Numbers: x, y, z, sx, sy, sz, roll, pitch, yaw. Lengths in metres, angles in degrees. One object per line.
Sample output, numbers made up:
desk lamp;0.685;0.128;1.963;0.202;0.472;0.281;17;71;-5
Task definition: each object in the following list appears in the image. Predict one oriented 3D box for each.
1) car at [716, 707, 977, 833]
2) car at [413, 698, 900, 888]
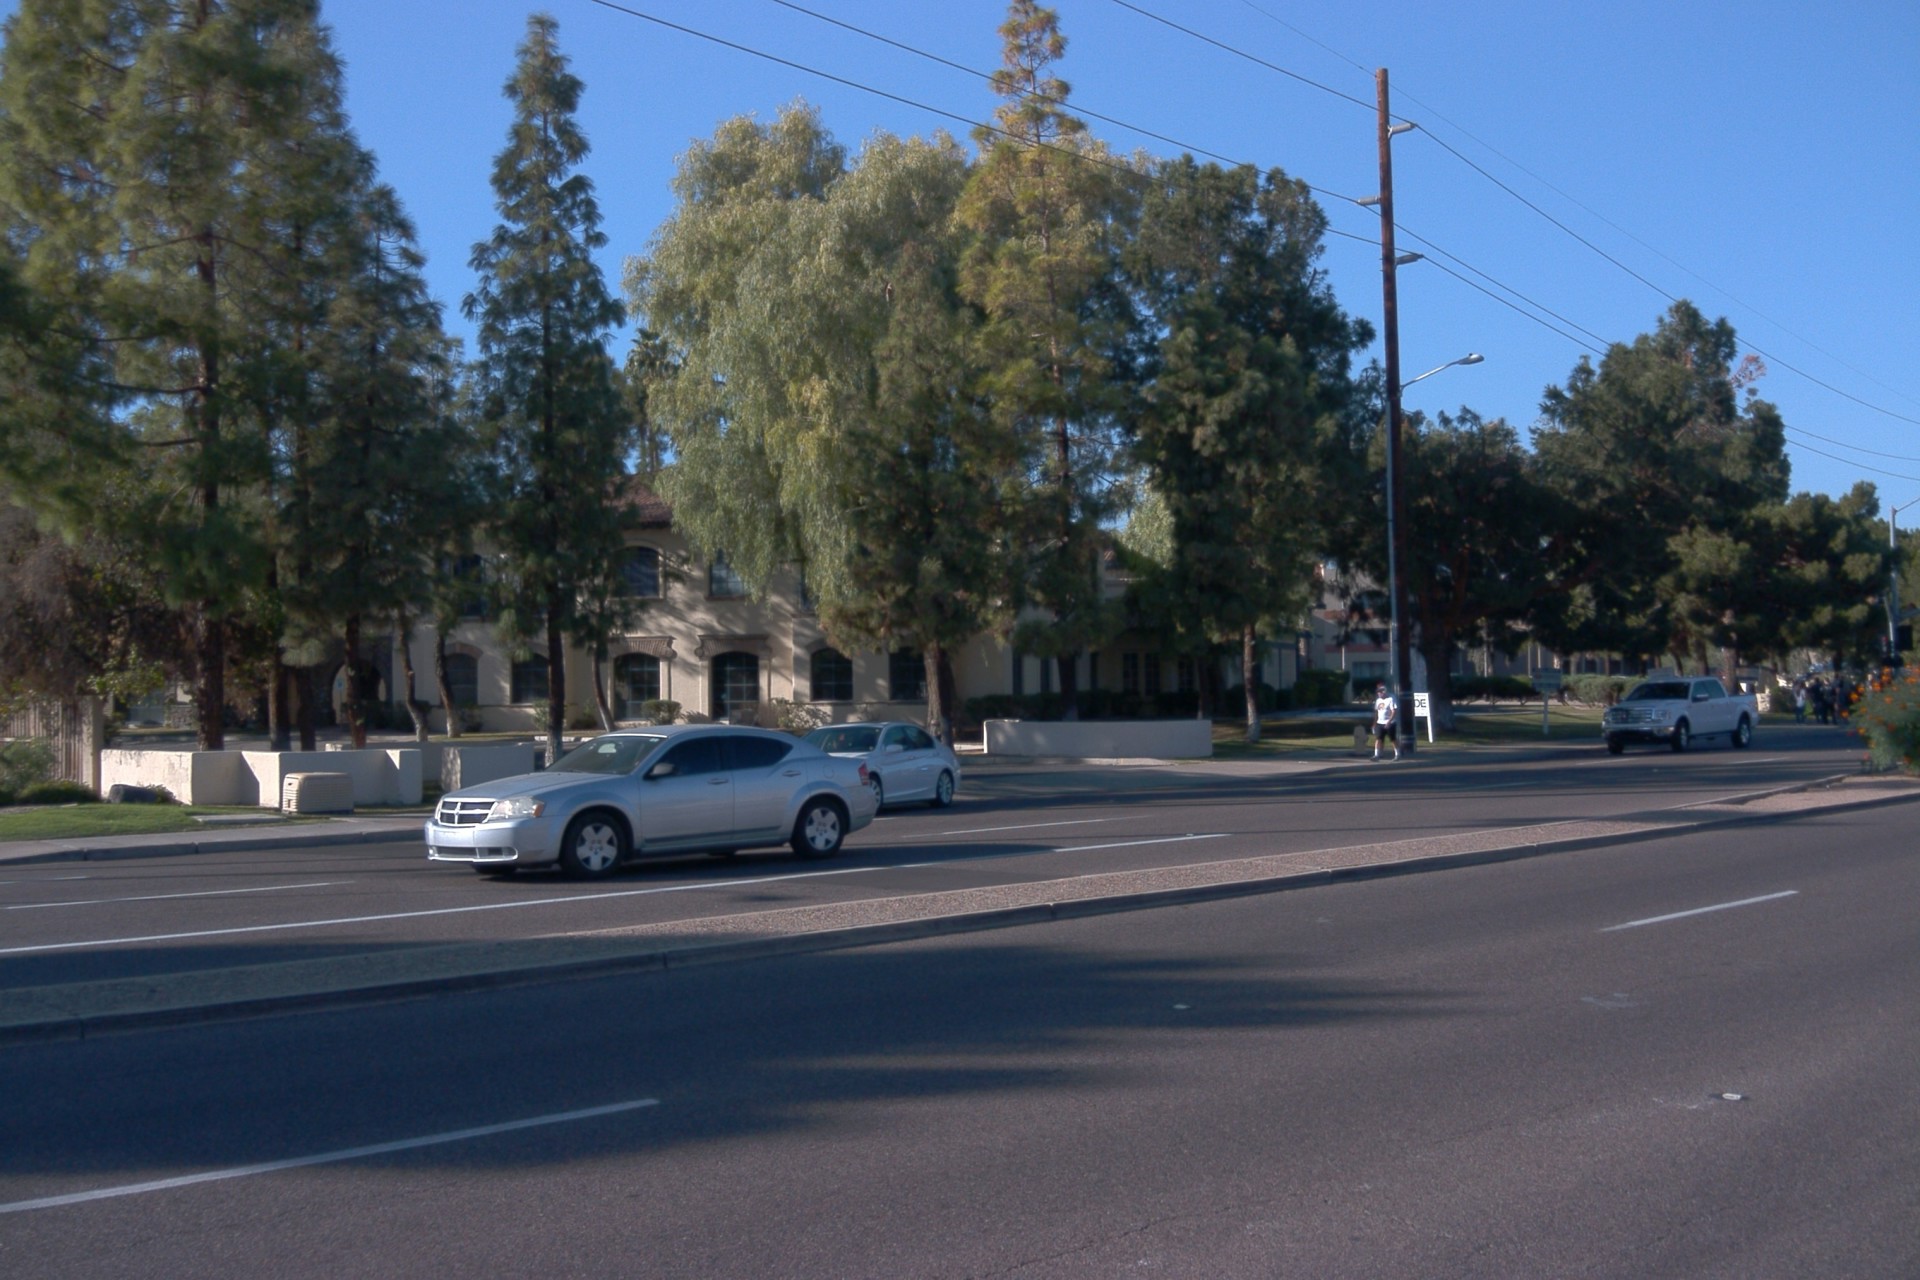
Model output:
car;-1.648;1.950;32.555;2.120;1.630;4.899;0;0;23
car;-3.033;1.478;21.681;1.922;1.650;4.787;0;0;45
